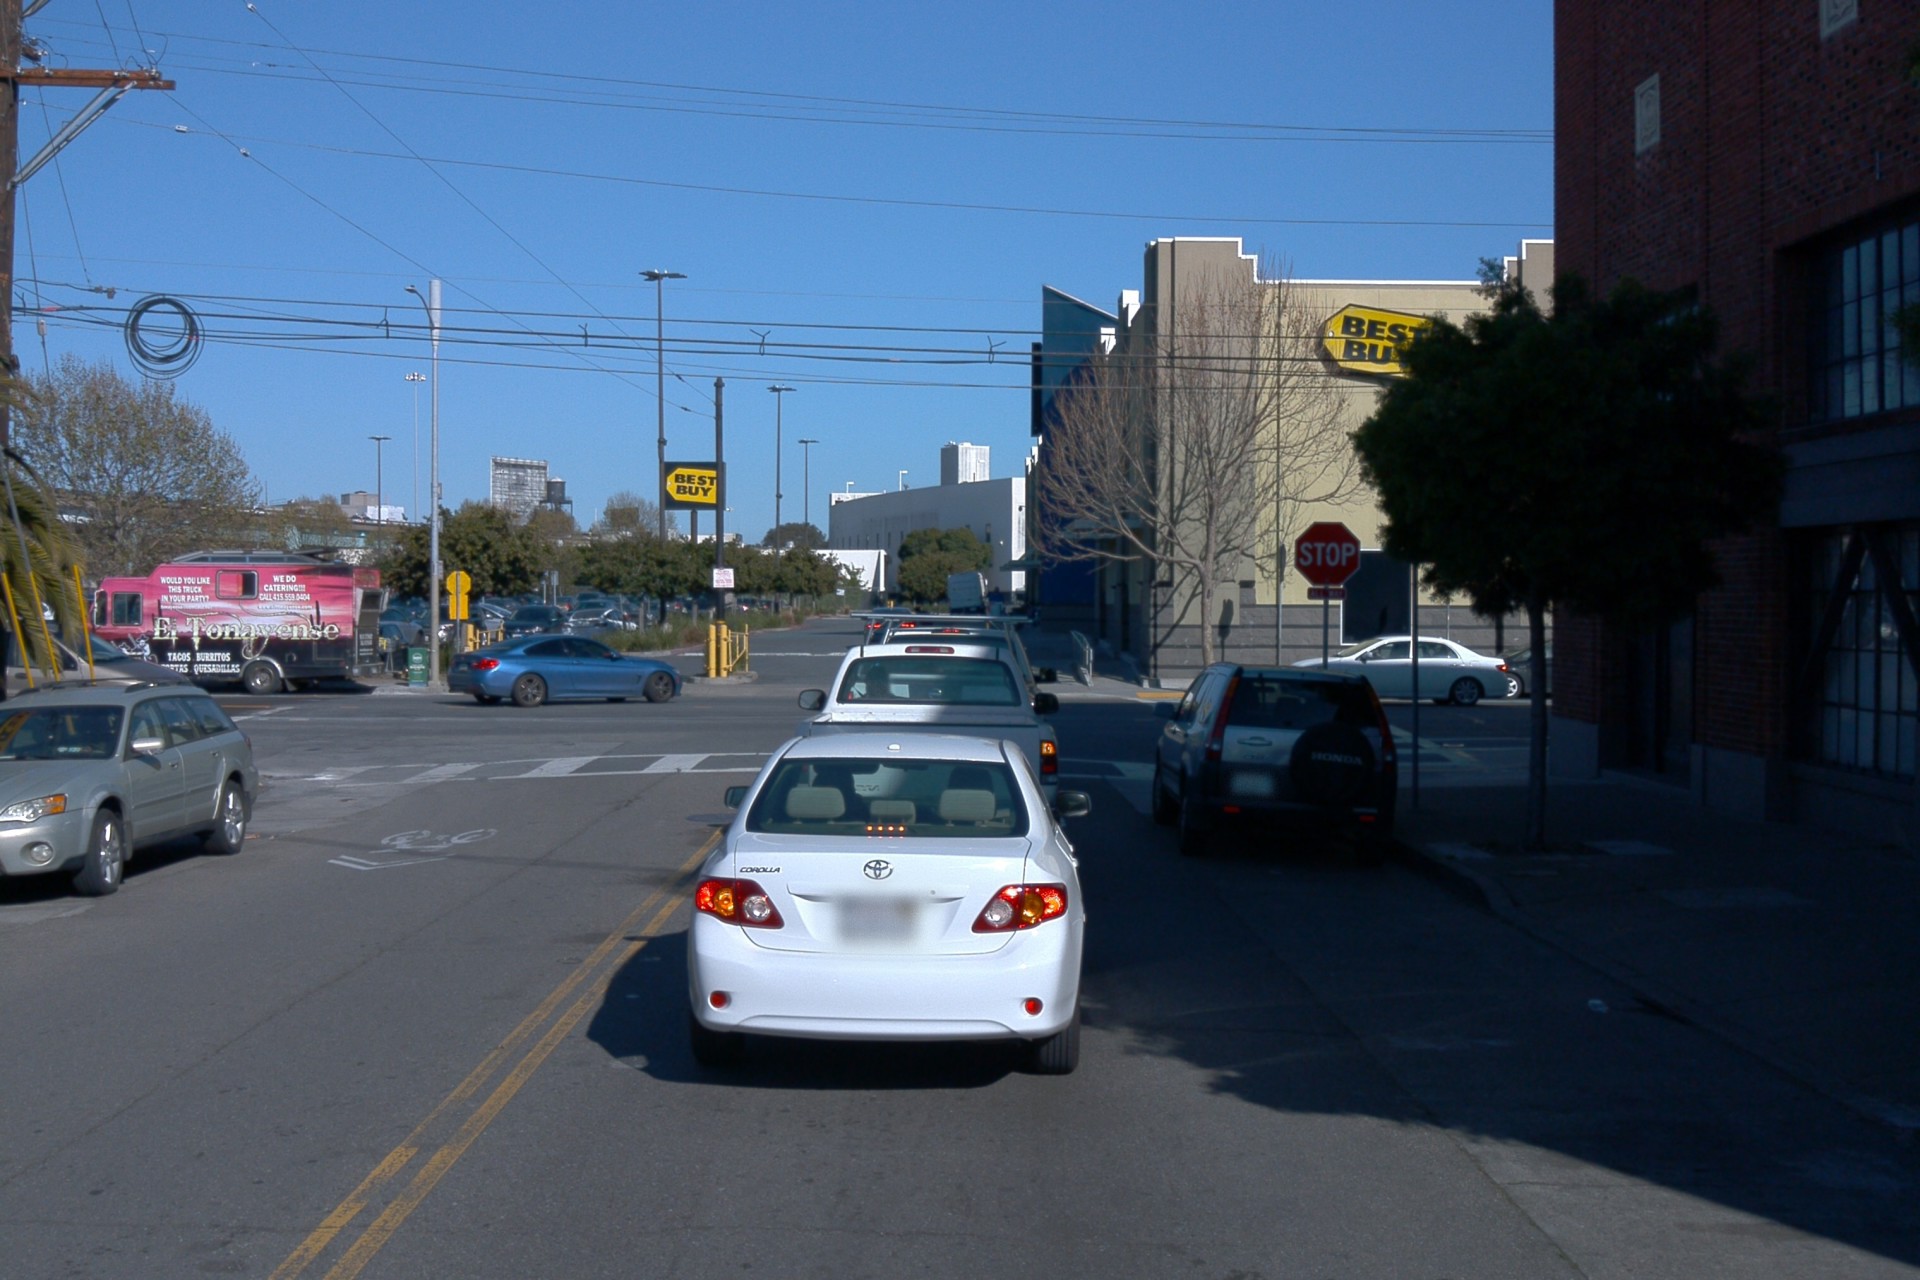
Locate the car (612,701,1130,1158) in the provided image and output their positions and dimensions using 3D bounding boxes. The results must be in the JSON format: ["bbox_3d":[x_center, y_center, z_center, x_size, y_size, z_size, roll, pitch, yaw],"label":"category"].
[{"bbox_3d":[-0.319,1.220,10.462,2.045,1.580,4.504,1,1,1],"label":"car"}]

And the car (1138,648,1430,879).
[{"bbox_3d":[2.793,1.004,18.704,2.017,1.730,4.285,1,1,1],"label":"car"}]

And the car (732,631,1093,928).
[{"bbox_3d":[-0.311,0.926,16.561,2.386,1.880,5.557,1,1,0],"label":"car"}]

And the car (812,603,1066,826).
[{"bbox_3d":[-0.070,0.684,22.971,2.386,2.140,5.556,1,1,4],"label":"car"}]
